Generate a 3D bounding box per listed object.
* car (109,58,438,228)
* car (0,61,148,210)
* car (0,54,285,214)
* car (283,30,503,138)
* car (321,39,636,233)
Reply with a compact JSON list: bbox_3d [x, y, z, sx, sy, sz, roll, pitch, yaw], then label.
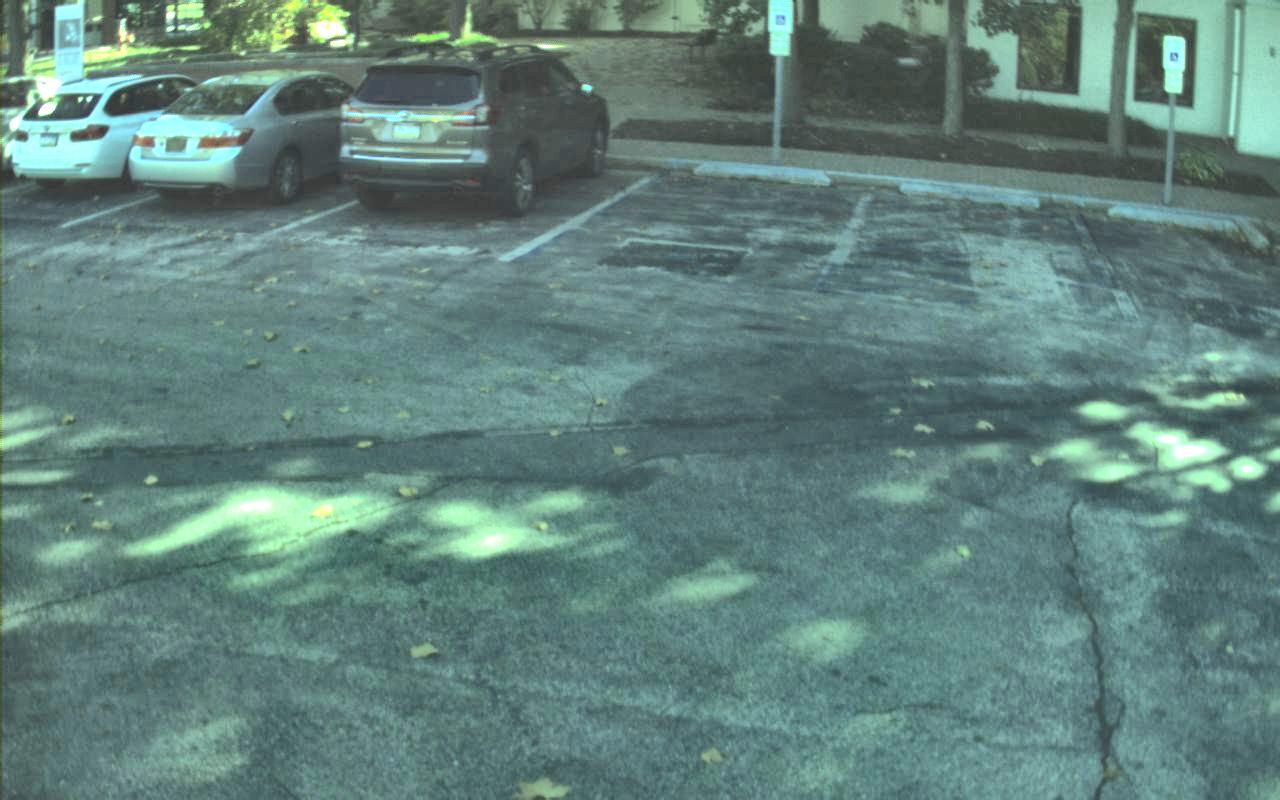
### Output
[{"bbox_3d":[-4.336,-3.224,14.650,1.918,1.568,4.473,4,17,18],"label":"car"},{"bbox_3d":[-9.403,-3.963,16.431,1.949,1.607,4.461,4,17,16],"label":"car"},{"bbox_3d":[-6.711,-3.667,15.706,1.916,1.615,4.389,3,17,14],"label":"car"},{"bbox_3d":[-4.242,-5.649,21.489,2.000,1.592,4.580,4,17,17],"label":"car"},{"bbox_3d":[-1.640,-3.196,14.247,2.032,1.795,4.762,3,17,14],"label":"car"}]
